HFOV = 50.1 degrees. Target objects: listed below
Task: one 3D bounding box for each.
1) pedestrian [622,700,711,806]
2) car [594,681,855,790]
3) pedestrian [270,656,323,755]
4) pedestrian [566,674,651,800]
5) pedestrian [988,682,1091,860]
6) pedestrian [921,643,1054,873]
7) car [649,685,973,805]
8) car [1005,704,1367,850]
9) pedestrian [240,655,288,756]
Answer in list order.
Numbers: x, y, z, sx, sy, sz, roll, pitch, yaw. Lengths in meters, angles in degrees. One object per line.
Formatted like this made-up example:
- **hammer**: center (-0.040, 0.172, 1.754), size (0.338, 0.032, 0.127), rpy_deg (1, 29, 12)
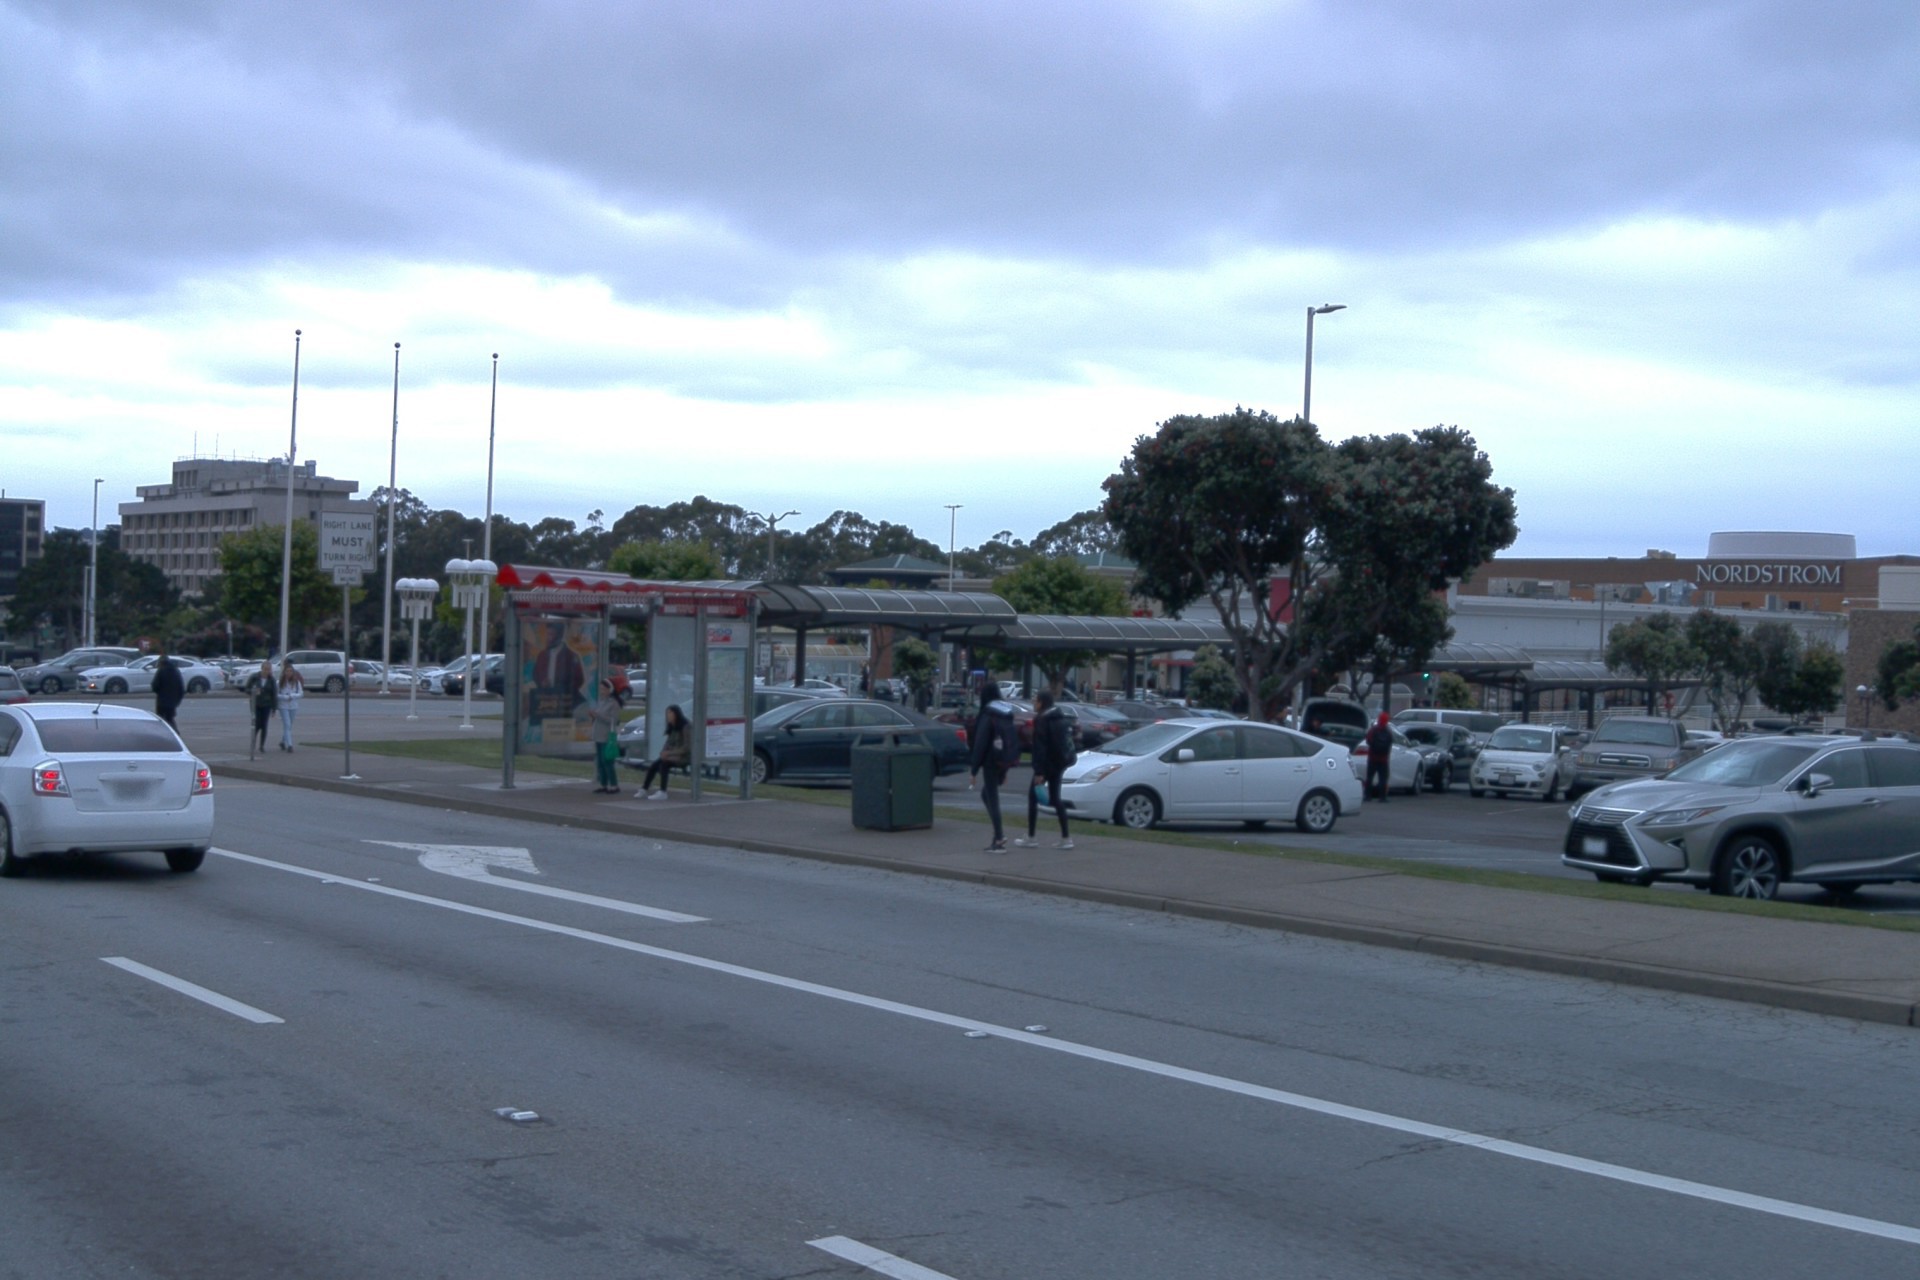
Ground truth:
- **pedestrian**: center (-3.850, 1.465, 26.994), size (0.836, 1.310, 0.838), rpy_deg (0, 0, -40)
- **car**: center (-4.127, 1.618, 35.891), size (4.147, 1.700, 2.031), rpy_deg (0, 0, -20)
- **pedestrian**: center (-11.795, 1.152, 36.537), size (0.709, 1.700, 0.826), rpy_deg (0, 0, -32)
- **pedestrian**: center (-4.729, 1.290, 27.632), size (0.827, 1.630, 0.814), rpy_deg (0, 0, -39)
- **pedestrian**: center (0.802, 1.303, 20.783), size (0.737, 1.730, 0.738), rpy_deg (0, 0, 40)
- **pedestrian**: center (0.273, 1.137, 20.422), size (0.900, 2.200, 0.967), rpy_deg (0, 0, 42)
- **car**: center (-2.424, 1.653, 33.415), size (4.769, 1.700, 2.204), rpy_deg (0, 0, -23)
- **car**: center (3.027, 1.766, 27.509), size (4.401, 1.670, 1.973), rpy_deg (0, 0, -24)
- **pedestrian**: center (-12.198, 1.138, 36.041), size (0.629, 1.720, 0.887), rpy_deg (0, 0, -30)
